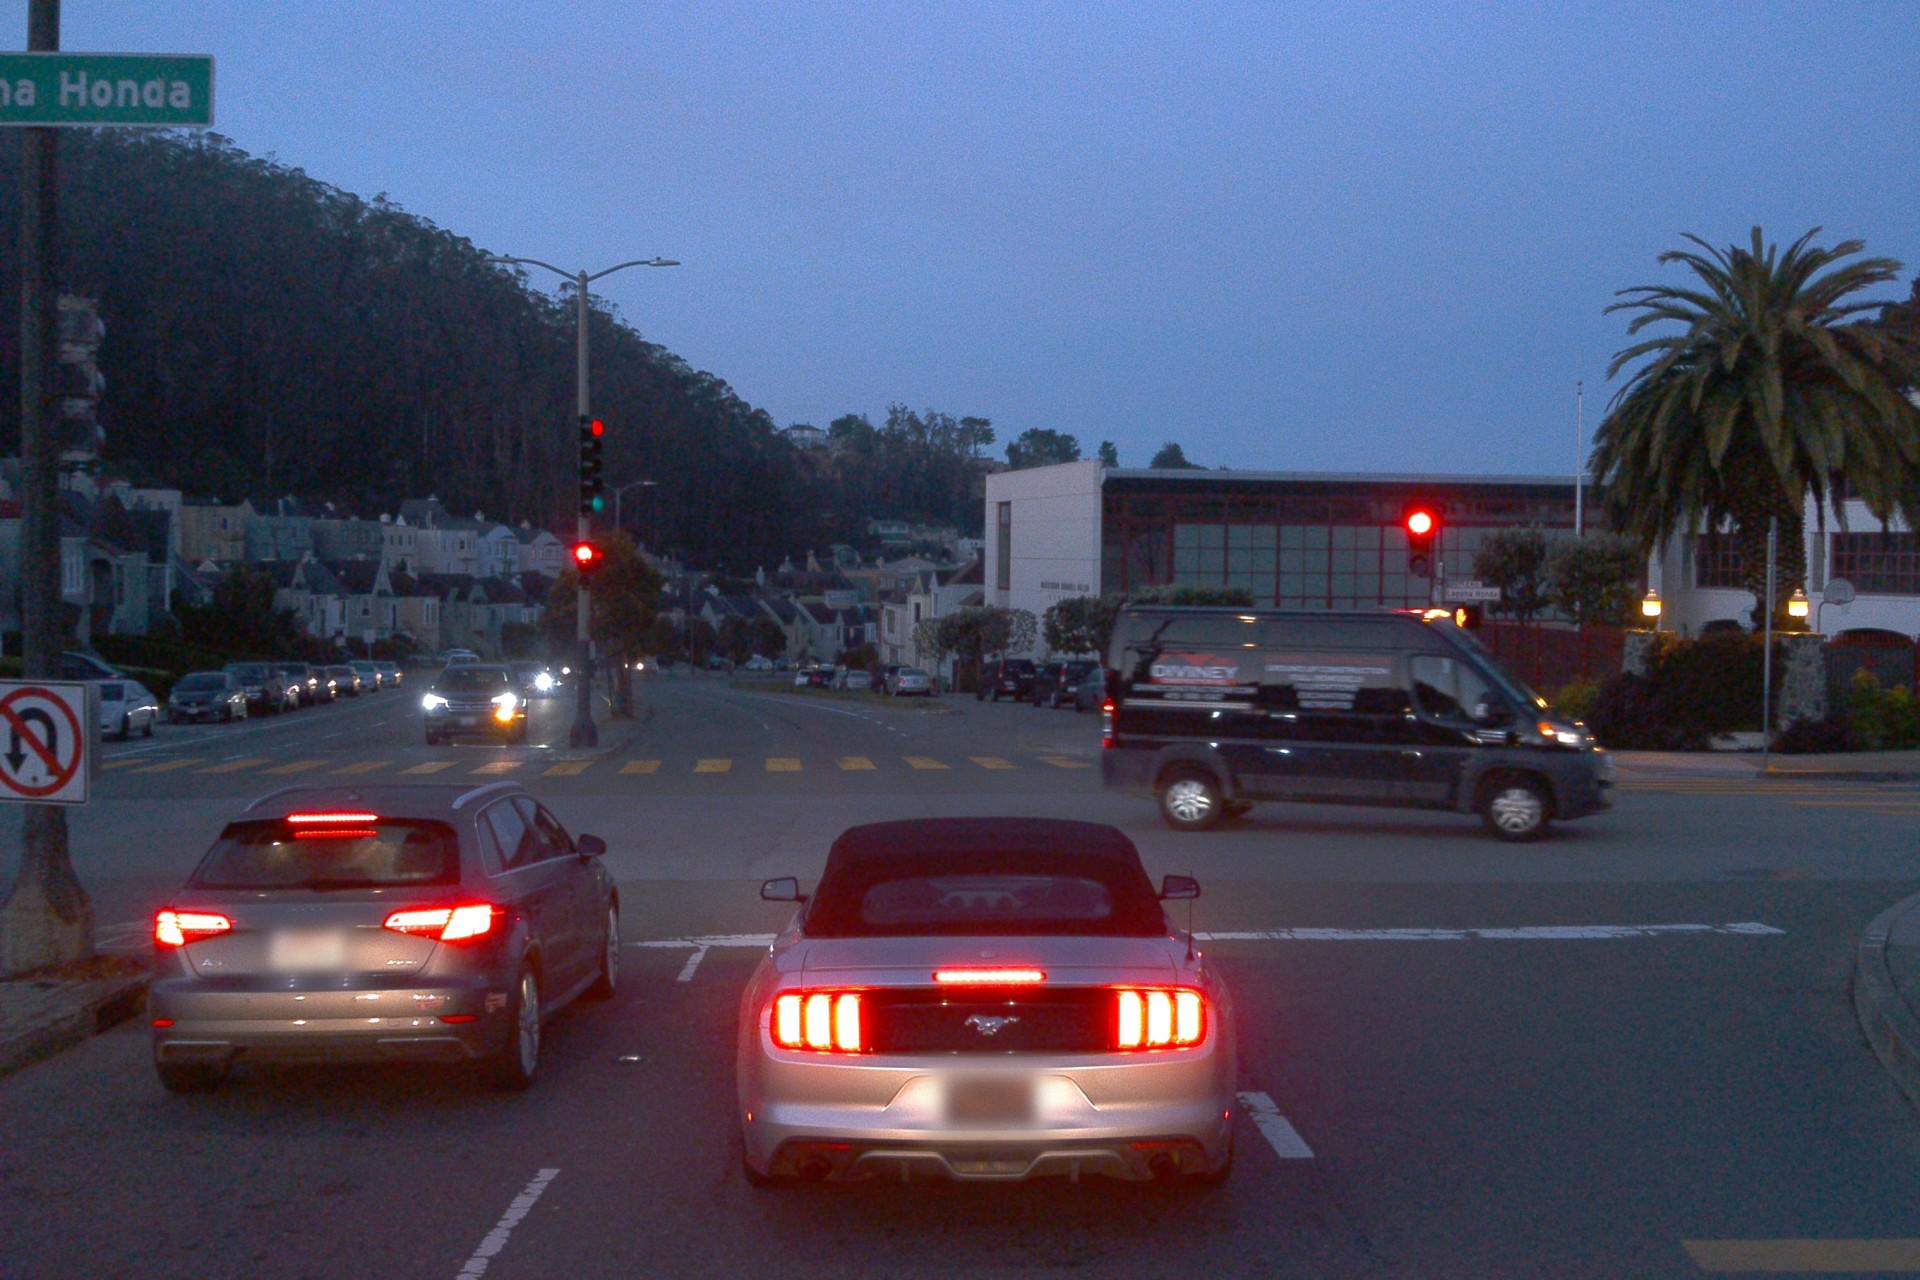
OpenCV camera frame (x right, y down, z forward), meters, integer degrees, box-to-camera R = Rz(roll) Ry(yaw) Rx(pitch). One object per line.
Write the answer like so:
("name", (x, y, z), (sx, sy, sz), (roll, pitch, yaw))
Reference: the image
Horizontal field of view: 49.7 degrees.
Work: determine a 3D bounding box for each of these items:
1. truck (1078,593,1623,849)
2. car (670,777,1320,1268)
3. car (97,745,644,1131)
("truck", (4.415, 0.836, 23.301), (5.656, 2.610, 2.547), (0, 0, 21))
("car", (0.099, 1.423, 9.110), (2.174, 1.380, 4.355), (0, 0, 0))
("car", (-2.886, 1.404, 11.058), (1.782, 1.510, 3.987), (0, 0, 0))
